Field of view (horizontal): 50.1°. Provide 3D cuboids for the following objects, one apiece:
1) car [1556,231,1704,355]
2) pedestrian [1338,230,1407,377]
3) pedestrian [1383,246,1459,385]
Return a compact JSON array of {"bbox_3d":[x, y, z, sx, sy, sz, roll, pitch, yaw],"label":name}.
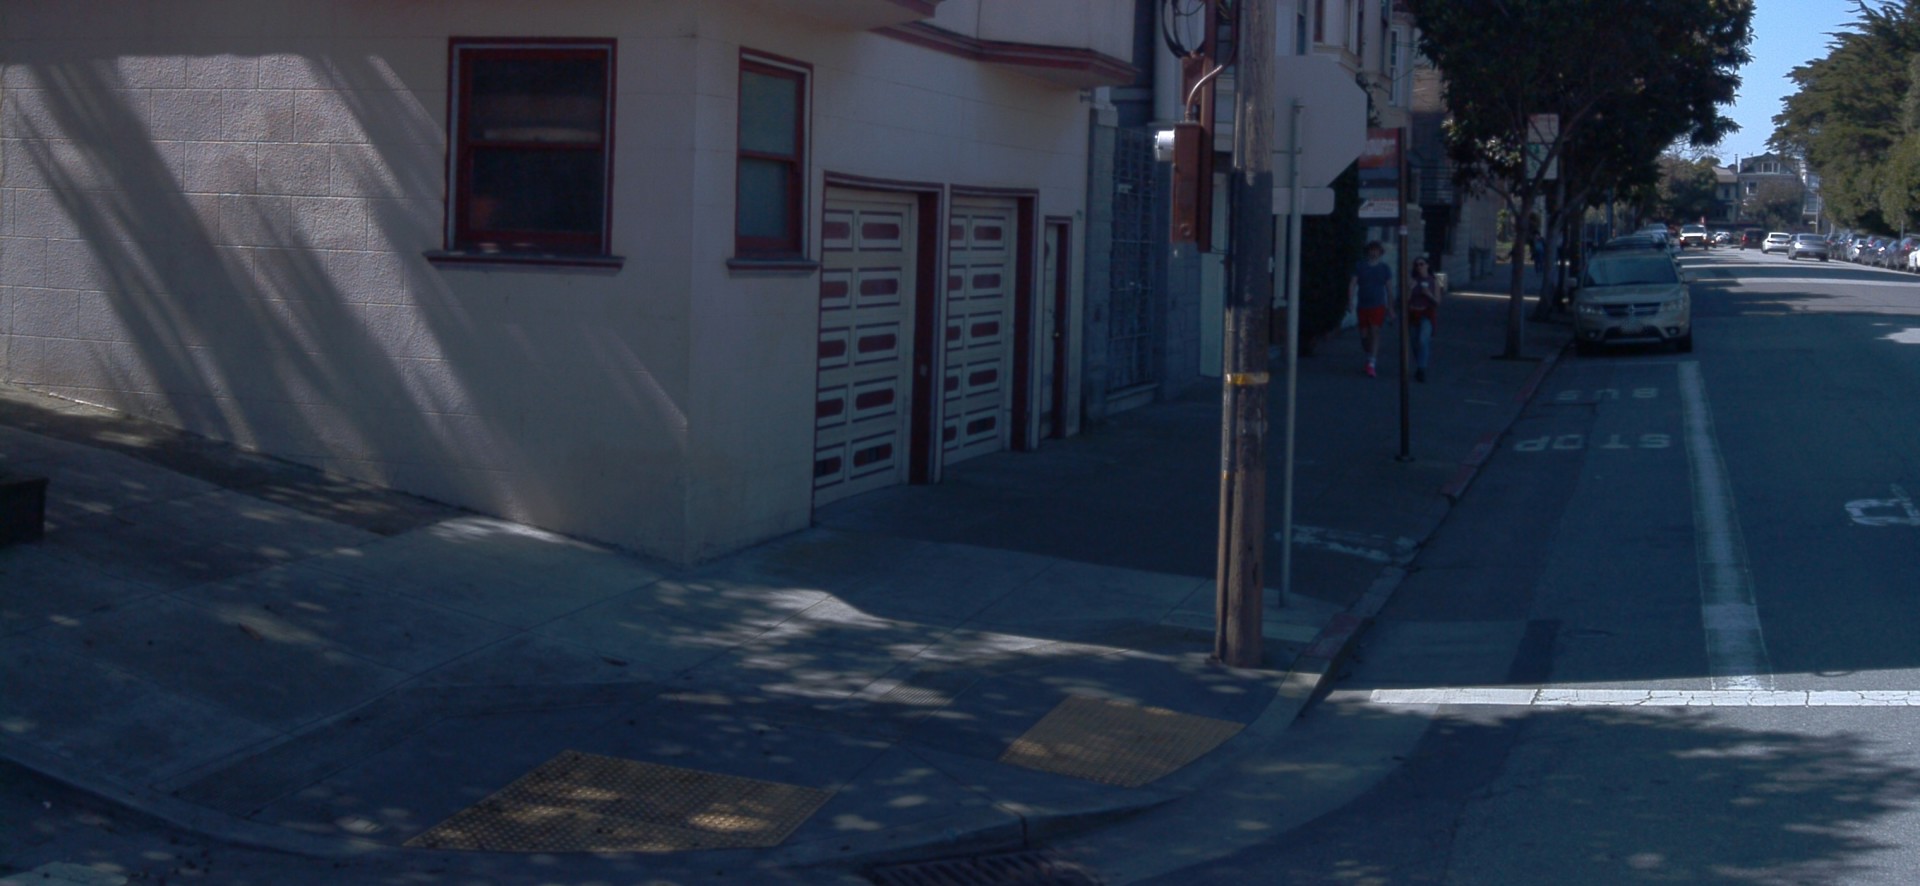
[{"bbox_3d":[11.465,-2.653,35.202,2.223,1.869,5.048,1,6,18],"label":"car"},{"bbox_3d":[5.581,-1.911,27.772,0.805,1.925,0.887,1,2,18],"label":"pedestrian"},{"bbox_3d":[6.173,-1.727,27.488,0.862,1.775,0.995,1,3,20],"label":"pedestrian"}]
